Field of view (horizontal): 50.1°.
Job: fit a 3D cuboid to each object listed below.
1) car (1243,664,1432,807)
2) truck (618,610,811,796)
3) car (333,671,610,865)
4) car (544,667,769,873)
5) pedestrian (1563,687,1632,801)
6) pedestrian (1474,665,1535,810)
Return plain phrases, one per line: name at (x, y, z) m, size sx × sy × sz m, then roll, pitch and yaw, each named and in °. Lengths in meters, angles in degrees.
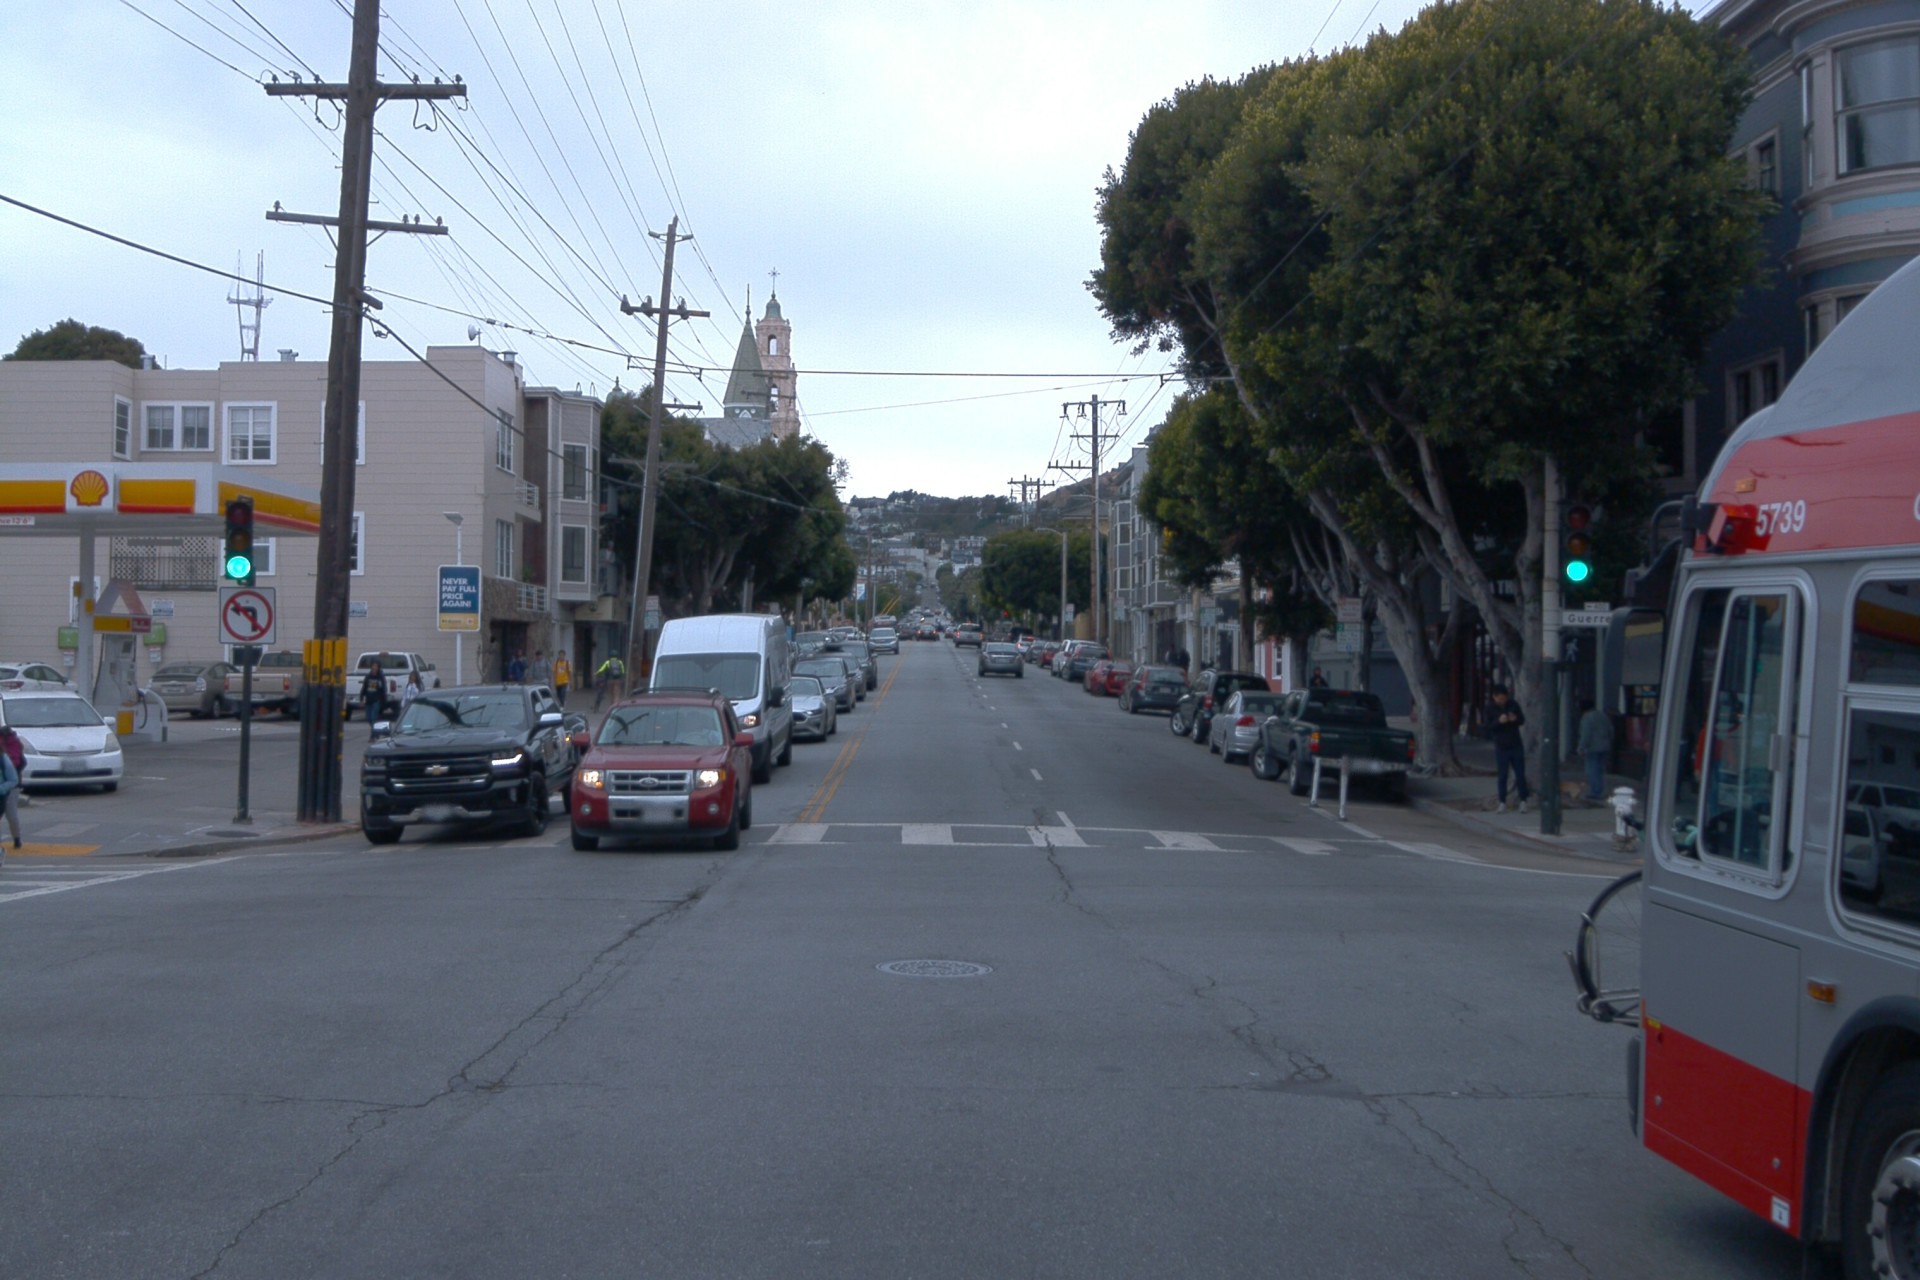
car at (6.180, 1.501, 34.352) m, size 2.095 × 2.060 × 5.275 m, roll 0°, pitch 1°, yaw -1°
truck at (-3.980, 0.919, 34.539) m, size 2.532 × 2.820 × 6.113 m, roll 0°, pitch 1°, yaw 0°
car at (-6.078, 1.508, 26.446) m, size 2.330 × 2.022 × 5.827 m, roll 0°, pitch 1°, yaw -2°
car at (-3.385, 1.391, 23.753) m, size 2.093 × 2.009 × 4.396 m, roll 0°, pitch 1°, yaw -2°
pedestrian at (9.725, 1.574, 31.398) m, size 0.927 × 1.670 × 0.894 m, roll 0°, pitch 1°, yaw 13°
pedestrian at (7.799, 1.383, 29.473) m, size 0.809 × 2.030 × 0.725 m, roll 0°, pitch 1°, yaw 11°
